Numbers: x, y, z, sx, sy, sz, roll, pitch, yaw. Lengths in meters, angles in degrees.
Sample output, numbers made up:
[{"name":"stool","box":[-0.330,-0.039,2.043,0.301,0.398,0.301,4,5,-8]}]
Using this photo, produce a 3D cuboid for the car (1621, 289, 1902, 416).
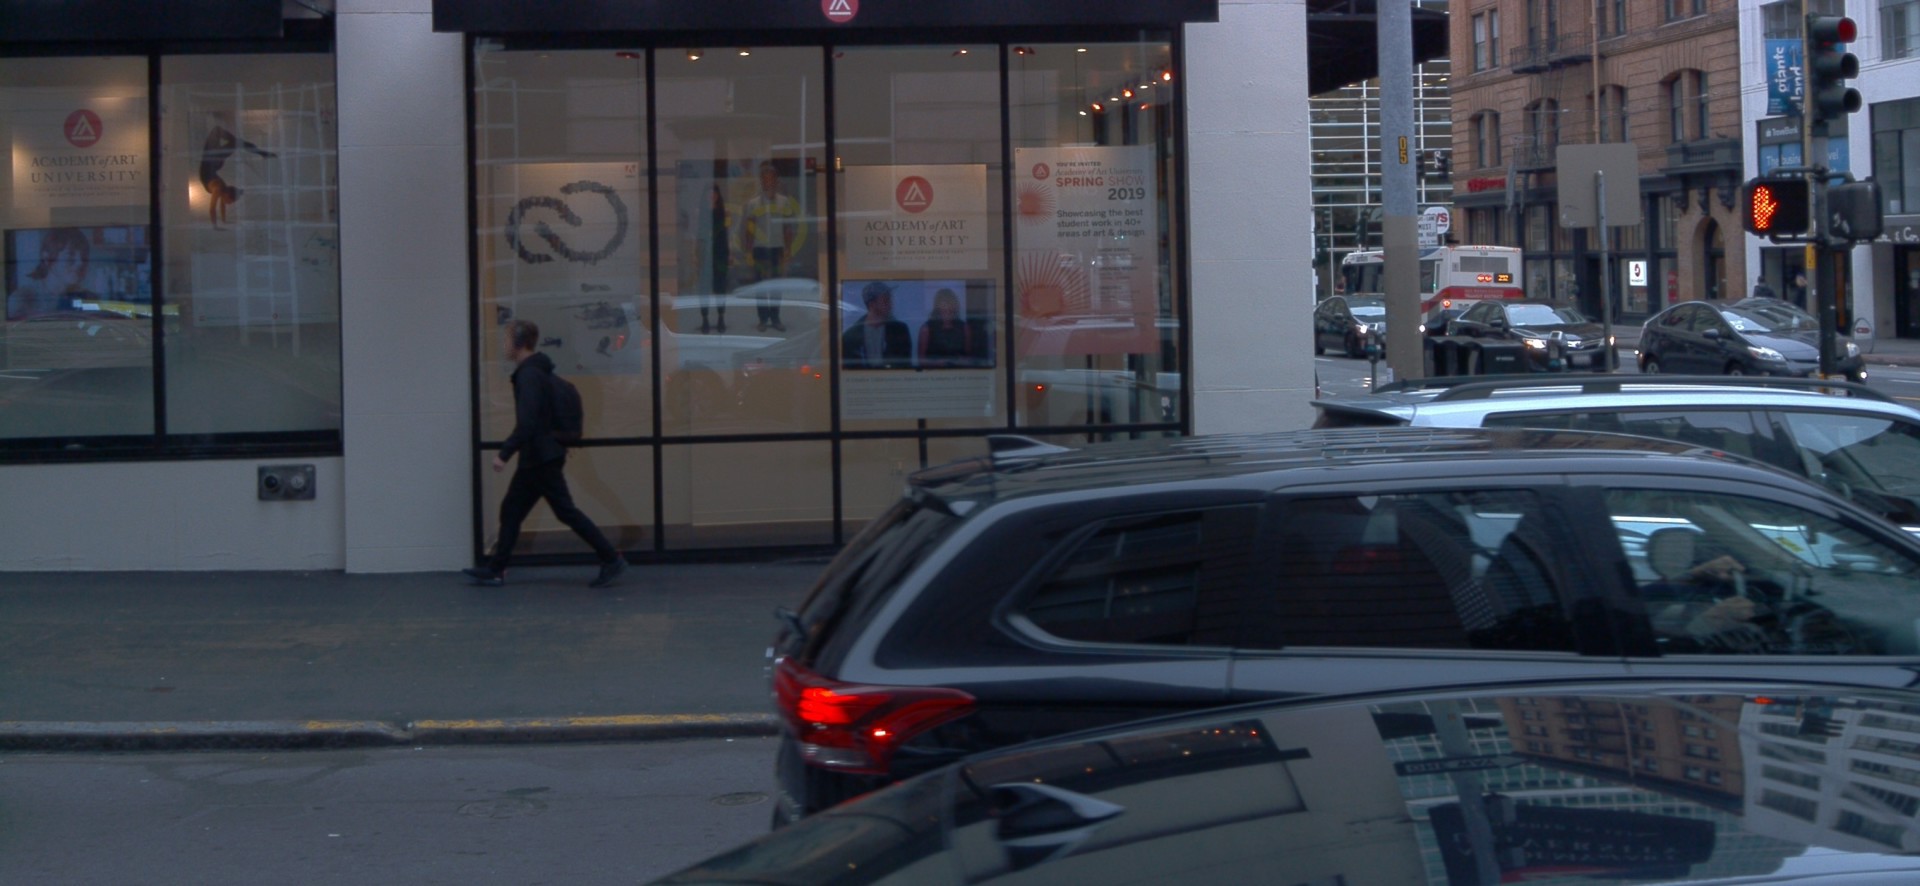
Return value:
[{"name":"car","box":[11.805,-1.423,30.732,2.064,1.531,4.507,-1,6,-6]}]

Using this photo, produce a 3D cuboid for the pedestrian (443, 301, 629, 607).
[{"name":"pedestrian","box":[-2.748,0.039,13.467,1.086,1.887,0.780,-1,2,-5]}]
